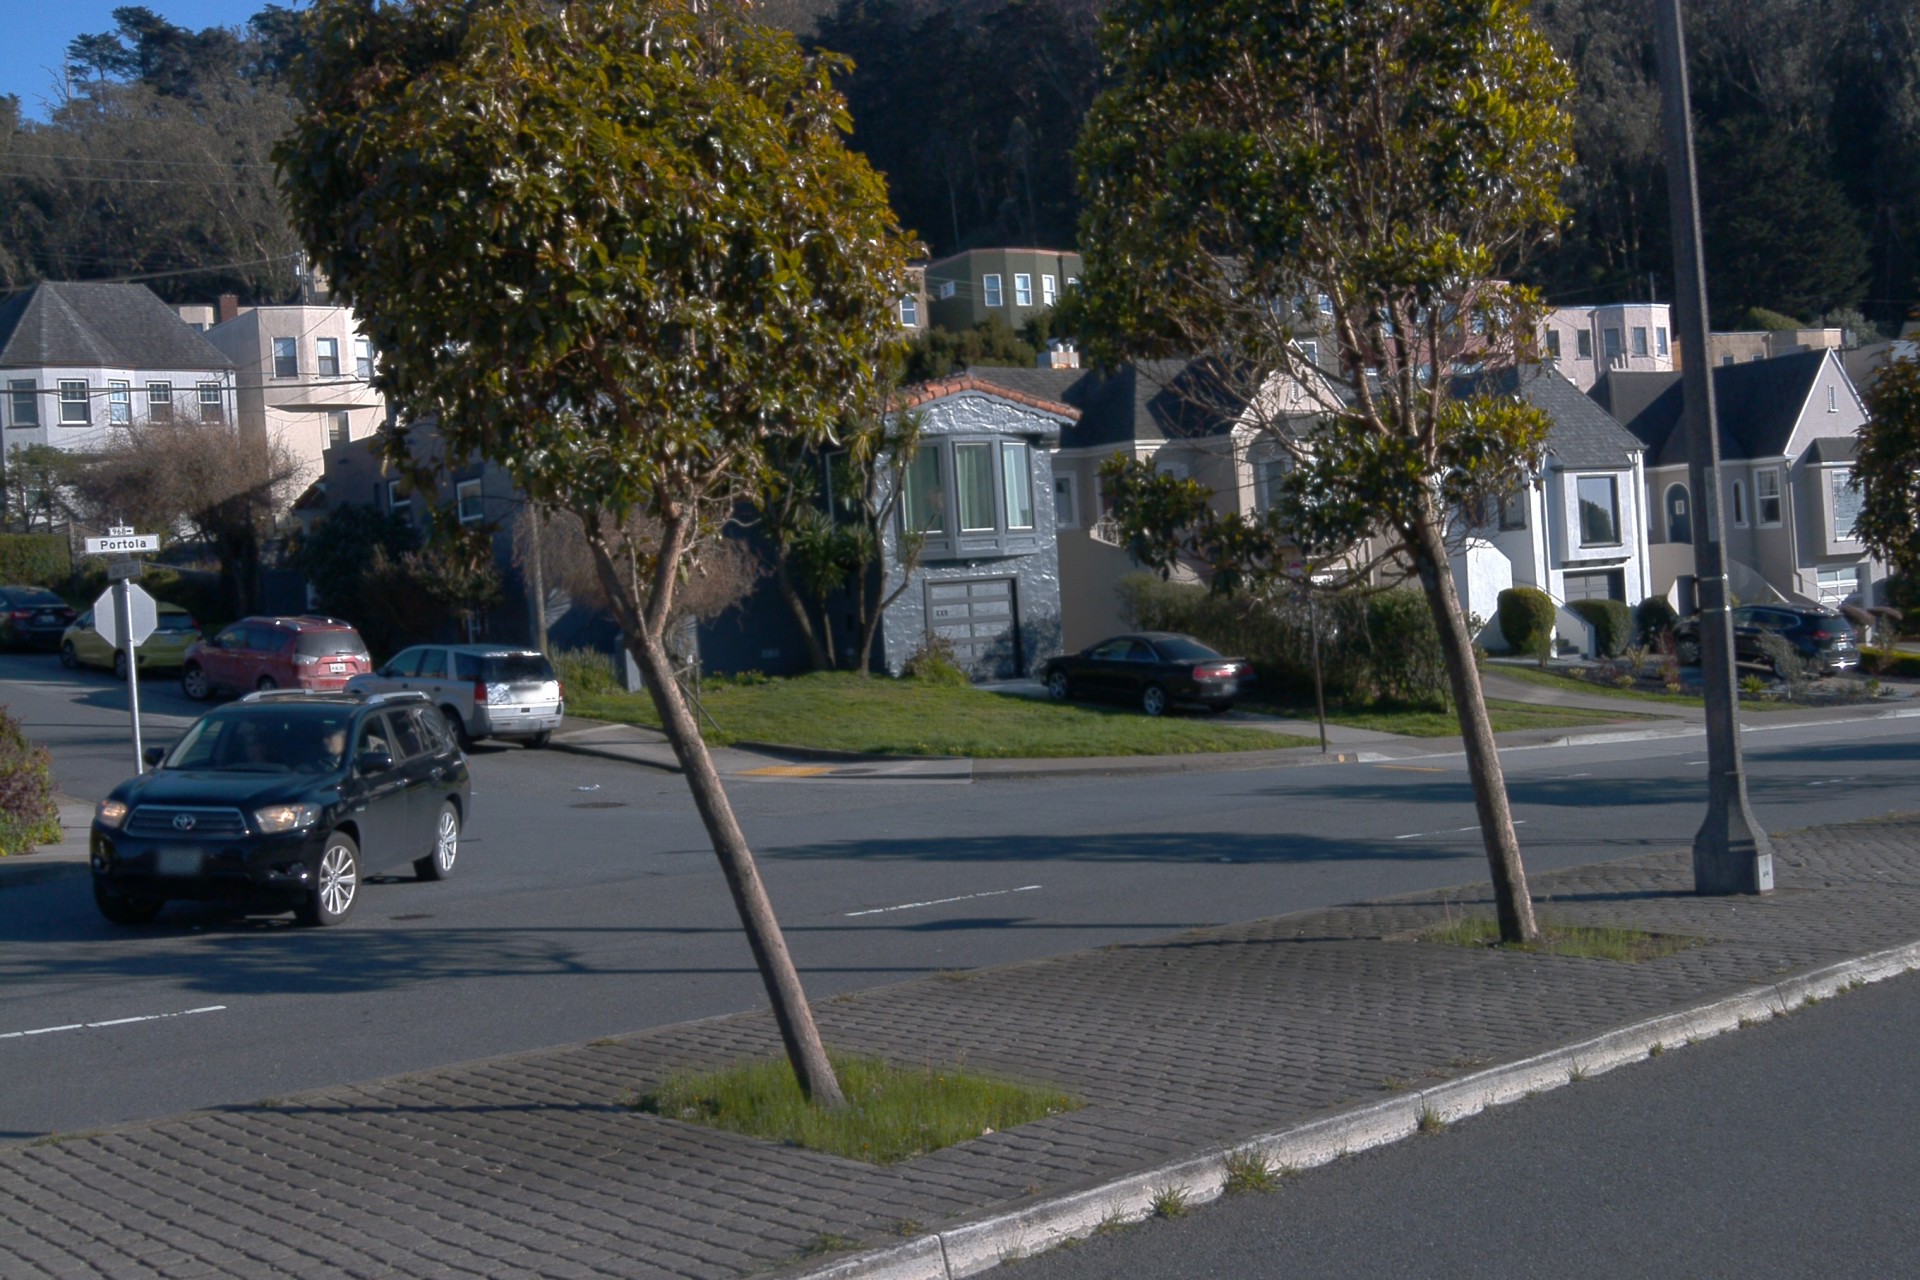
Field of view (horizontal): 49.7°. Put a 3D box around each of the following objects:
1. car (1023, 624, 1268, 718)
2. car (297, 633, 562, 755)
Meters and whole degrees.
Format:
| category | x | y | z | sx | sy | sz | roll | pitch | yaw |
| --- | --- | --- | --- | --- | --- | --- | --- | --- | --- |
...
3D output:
| category | x | y | z | sx | sy | sz | roll | pitch | yaw |
| --- | --- | --- | --- | --- | --- | --- | --- | --- | --- |
| car | 3.346 | 0.537 | 38.193 | 2.056 | 1.620 | 4.440 | 0 | 0 | -37 |
| car | -8.685 | 0.829 | 33.751 | 4.459 | 1.840 | 2.060 | 0 | 0 | 42 |
